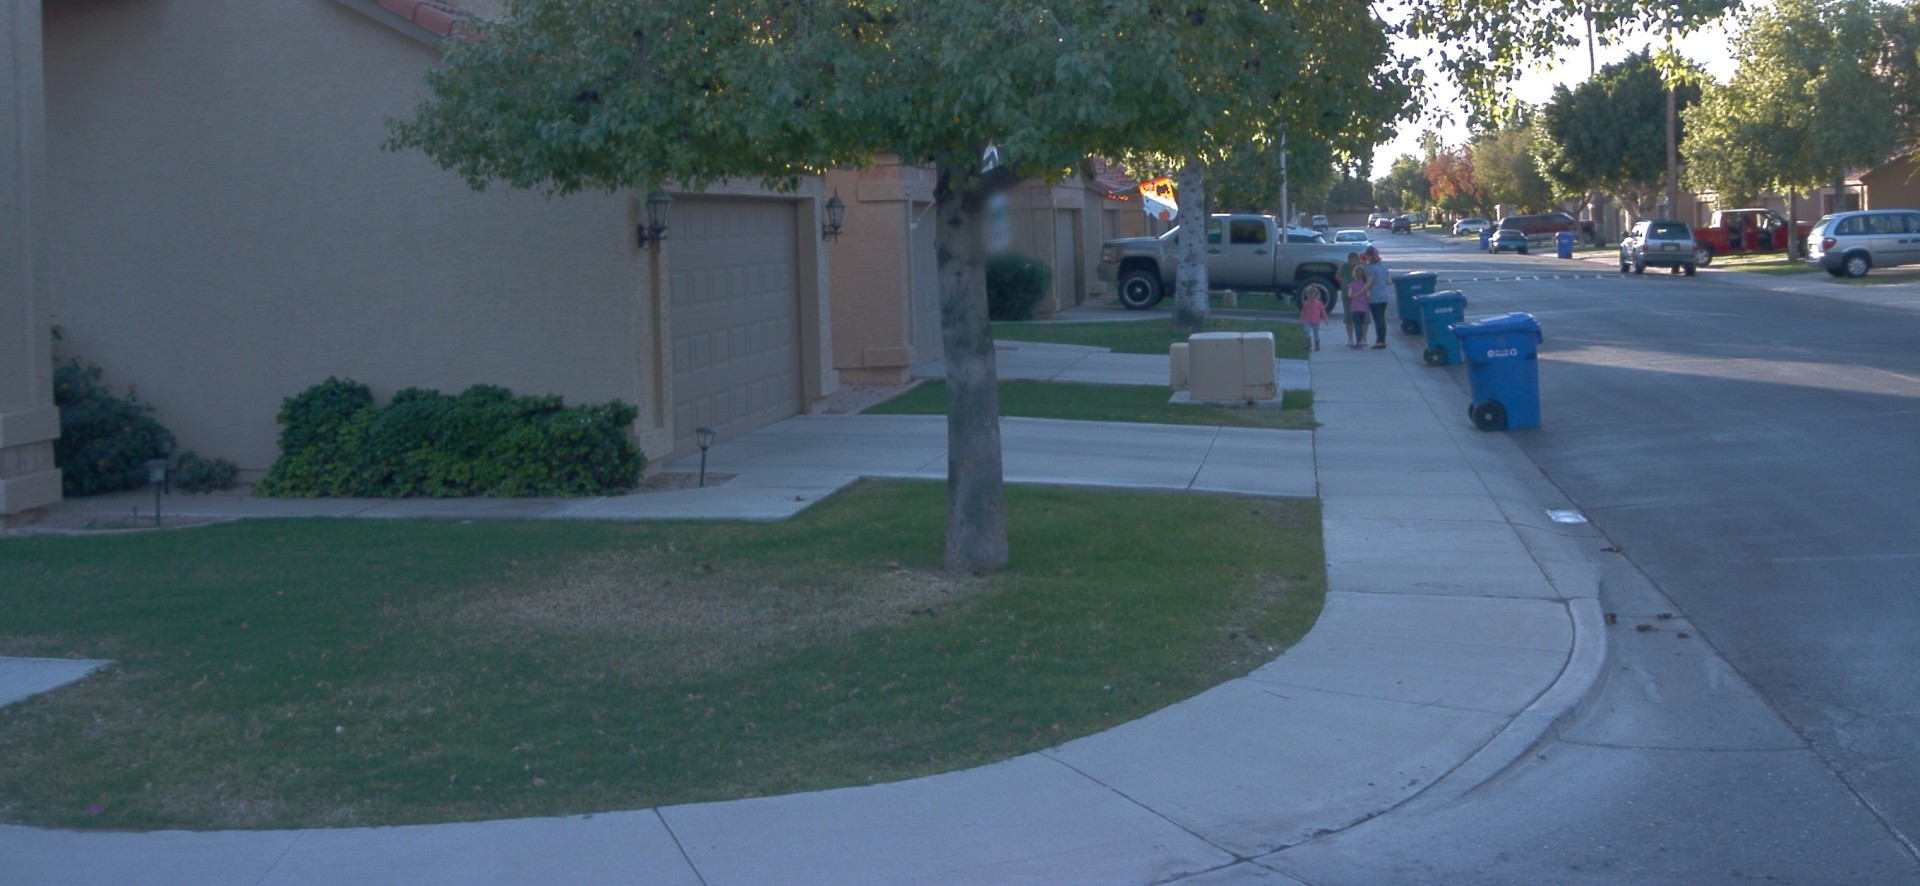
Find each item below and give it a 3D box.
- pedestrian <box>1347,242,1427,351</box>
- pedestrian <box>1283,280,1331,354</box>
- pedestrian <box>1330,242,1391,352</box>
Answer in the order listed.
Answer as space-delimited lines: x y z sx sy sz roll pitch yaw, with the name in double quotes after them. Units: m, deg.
6.552 -2.263 31.830 0.947 1.617 0.756 -2 3 -38 "pedestrian"
5.243 -1.910 31.345 0.682 1.088 0.542 1 2 12 "pedestrian"
6.286 -2.308 32.554 0.774 1.687 0.750 1 2 24 "pedestrian"
